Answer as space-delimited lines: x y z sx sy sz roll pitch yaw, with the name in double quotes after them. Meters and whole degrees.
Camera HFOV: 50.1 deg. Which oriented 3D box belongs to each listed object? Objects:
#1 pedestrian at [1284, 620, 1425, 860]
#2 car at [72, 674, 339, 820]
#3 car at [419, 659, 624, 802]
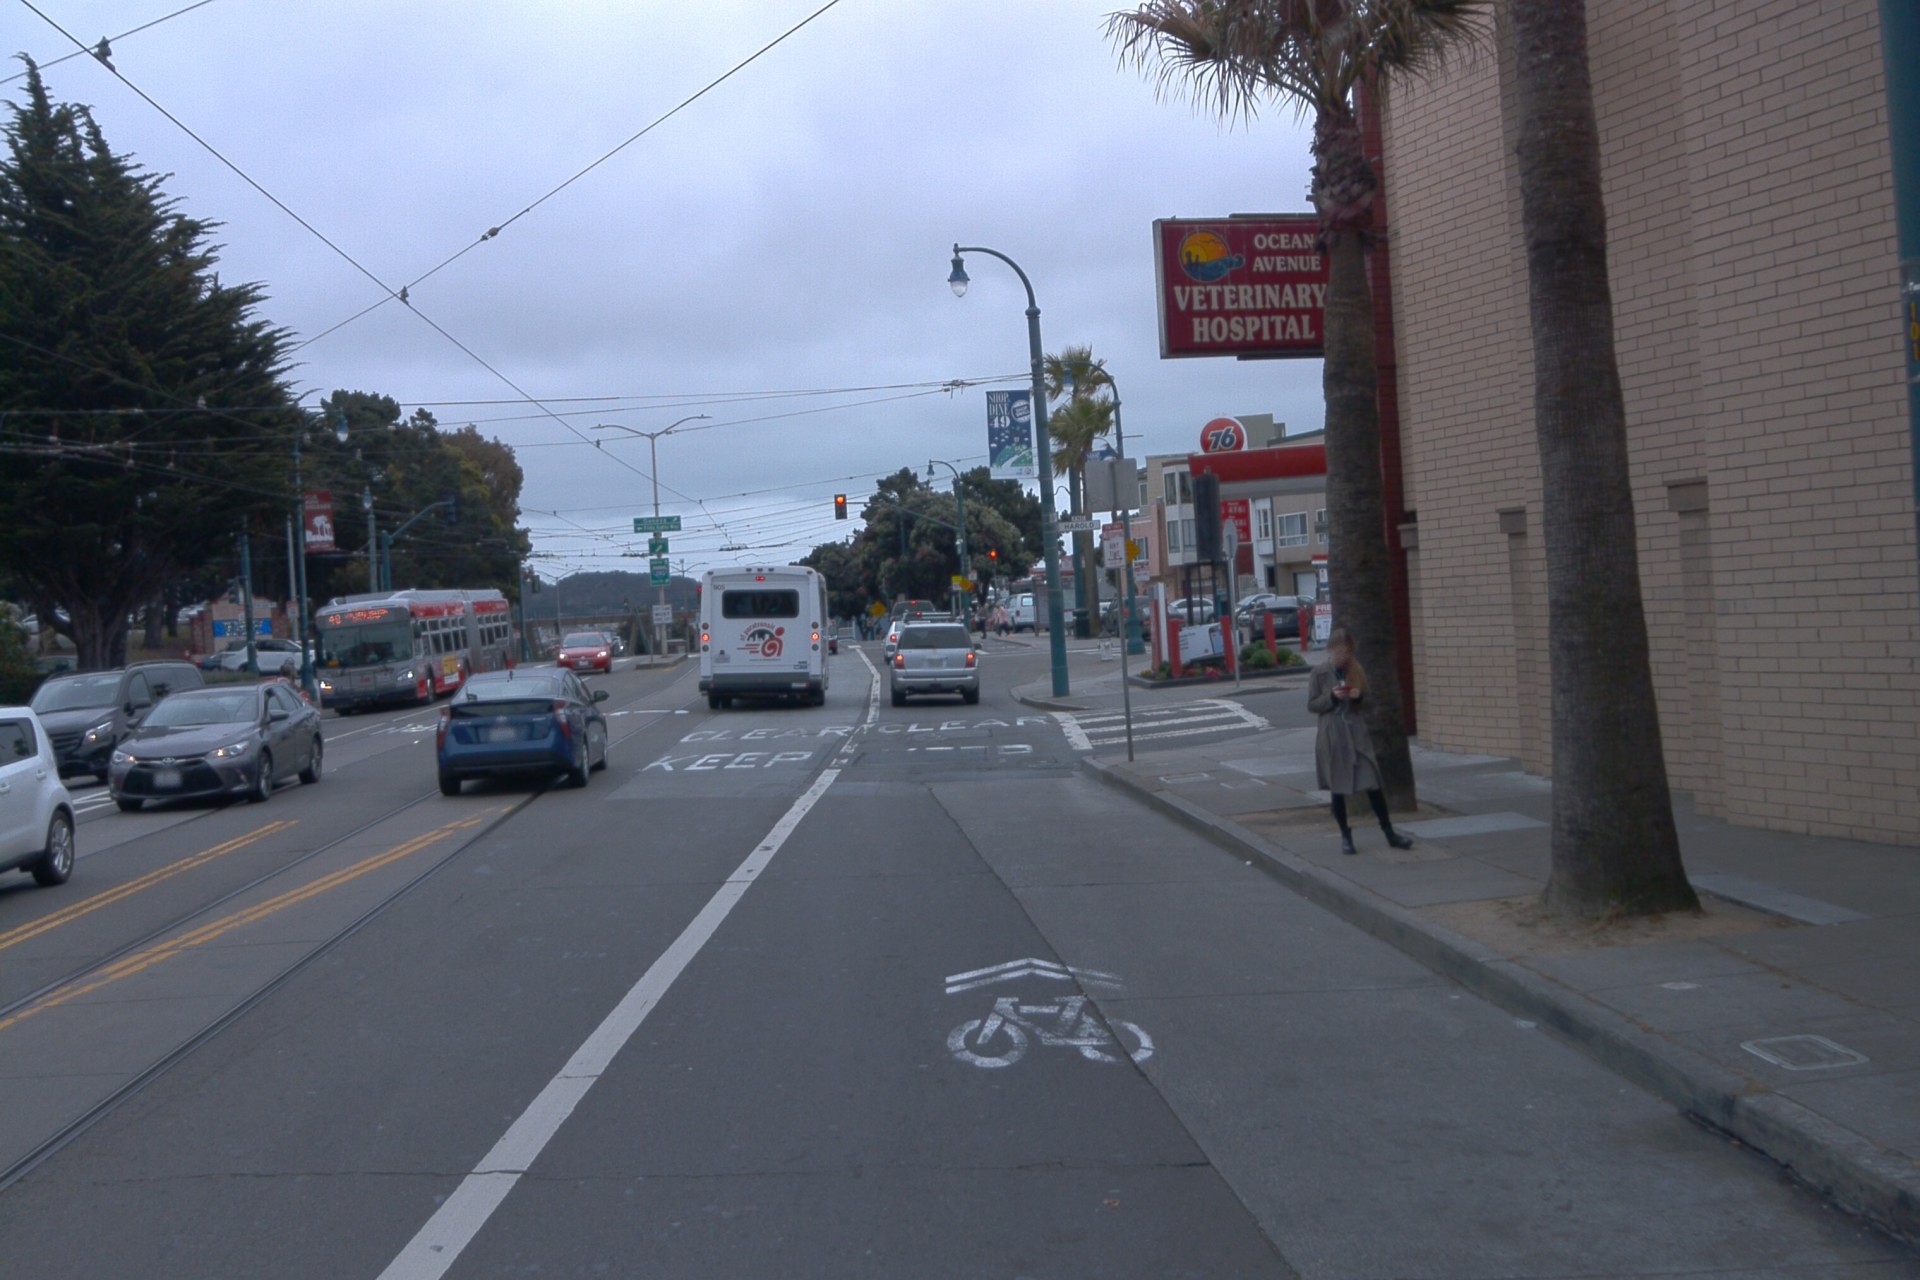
2.889 0.714 15.122 0.844 1.710 0.722 0 1 -6 "pedestrian"
-9.609 1.293 26.643 2.068 1.540 4.920 0 1 -6 "car"
-5.456 1.077 26.091 1.970 1.540 4.263 0 1 -4 "car"
